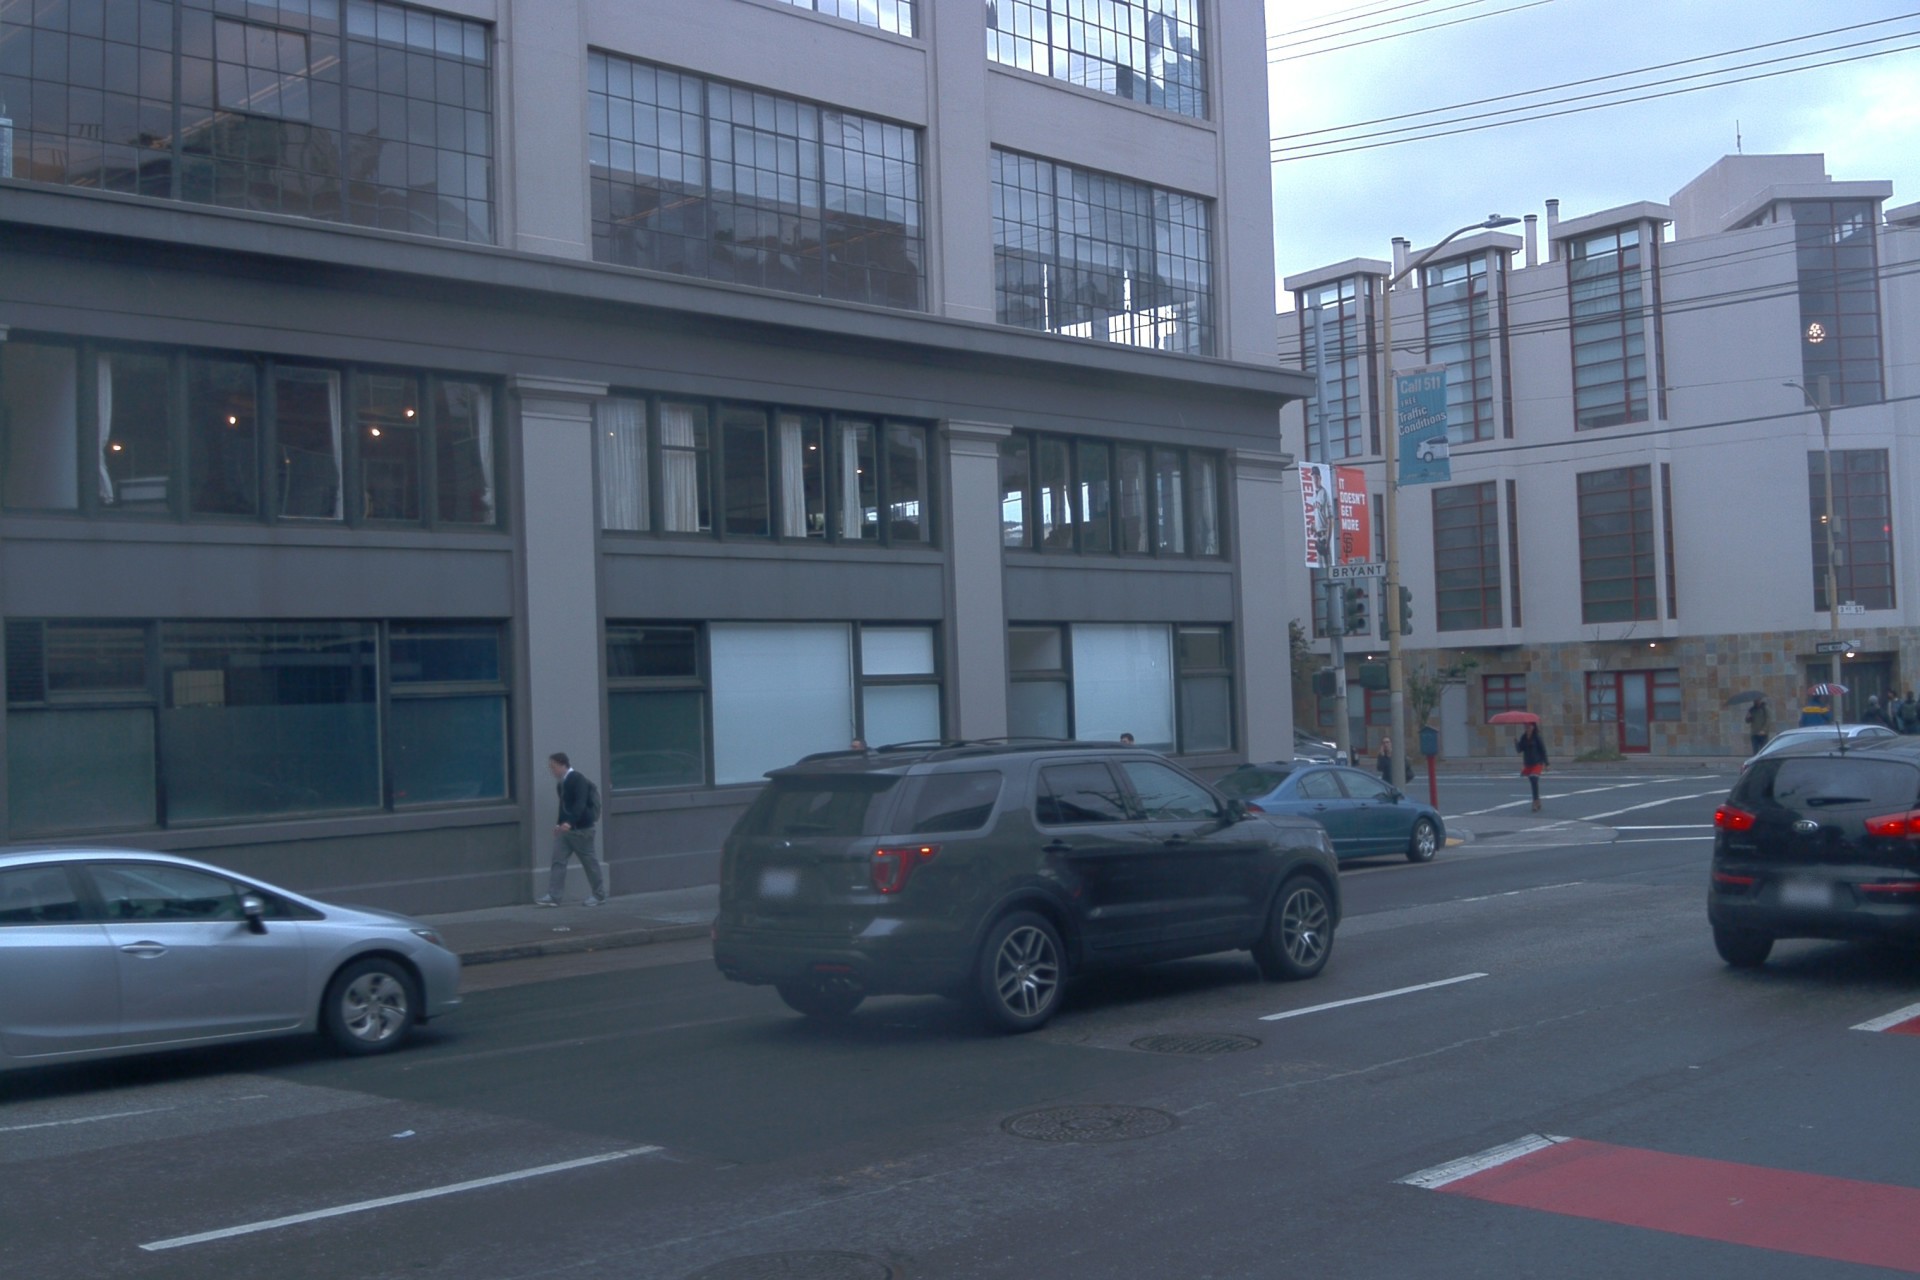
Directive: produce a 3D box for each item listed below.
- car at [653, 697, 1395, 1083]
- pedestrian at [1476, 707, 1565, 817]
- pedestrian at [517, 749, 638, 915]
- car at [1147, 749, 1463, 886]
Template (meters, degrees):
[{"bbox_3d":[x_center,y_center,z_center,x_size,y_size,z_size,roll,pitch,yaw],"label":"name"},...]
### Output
[{"bbox_3d":[0.626,1.465,14.211,2.226,2.020,5.094,0,0,44],"label":"car"},{"bbox_3d":[10.086,2.172,37.407,1.124,1.900,1.157,0,0,45],"label":"pedestrian"},{"bbox_3d":[-4.279,2.120,23.278,0.838,1.740,1.041,0,0,44],"label":"pedestrian"},{"bbox_3d":[4.628,2.269,27.472,1.913,1.440,4.430,0,0,44],"label":"car"}]
